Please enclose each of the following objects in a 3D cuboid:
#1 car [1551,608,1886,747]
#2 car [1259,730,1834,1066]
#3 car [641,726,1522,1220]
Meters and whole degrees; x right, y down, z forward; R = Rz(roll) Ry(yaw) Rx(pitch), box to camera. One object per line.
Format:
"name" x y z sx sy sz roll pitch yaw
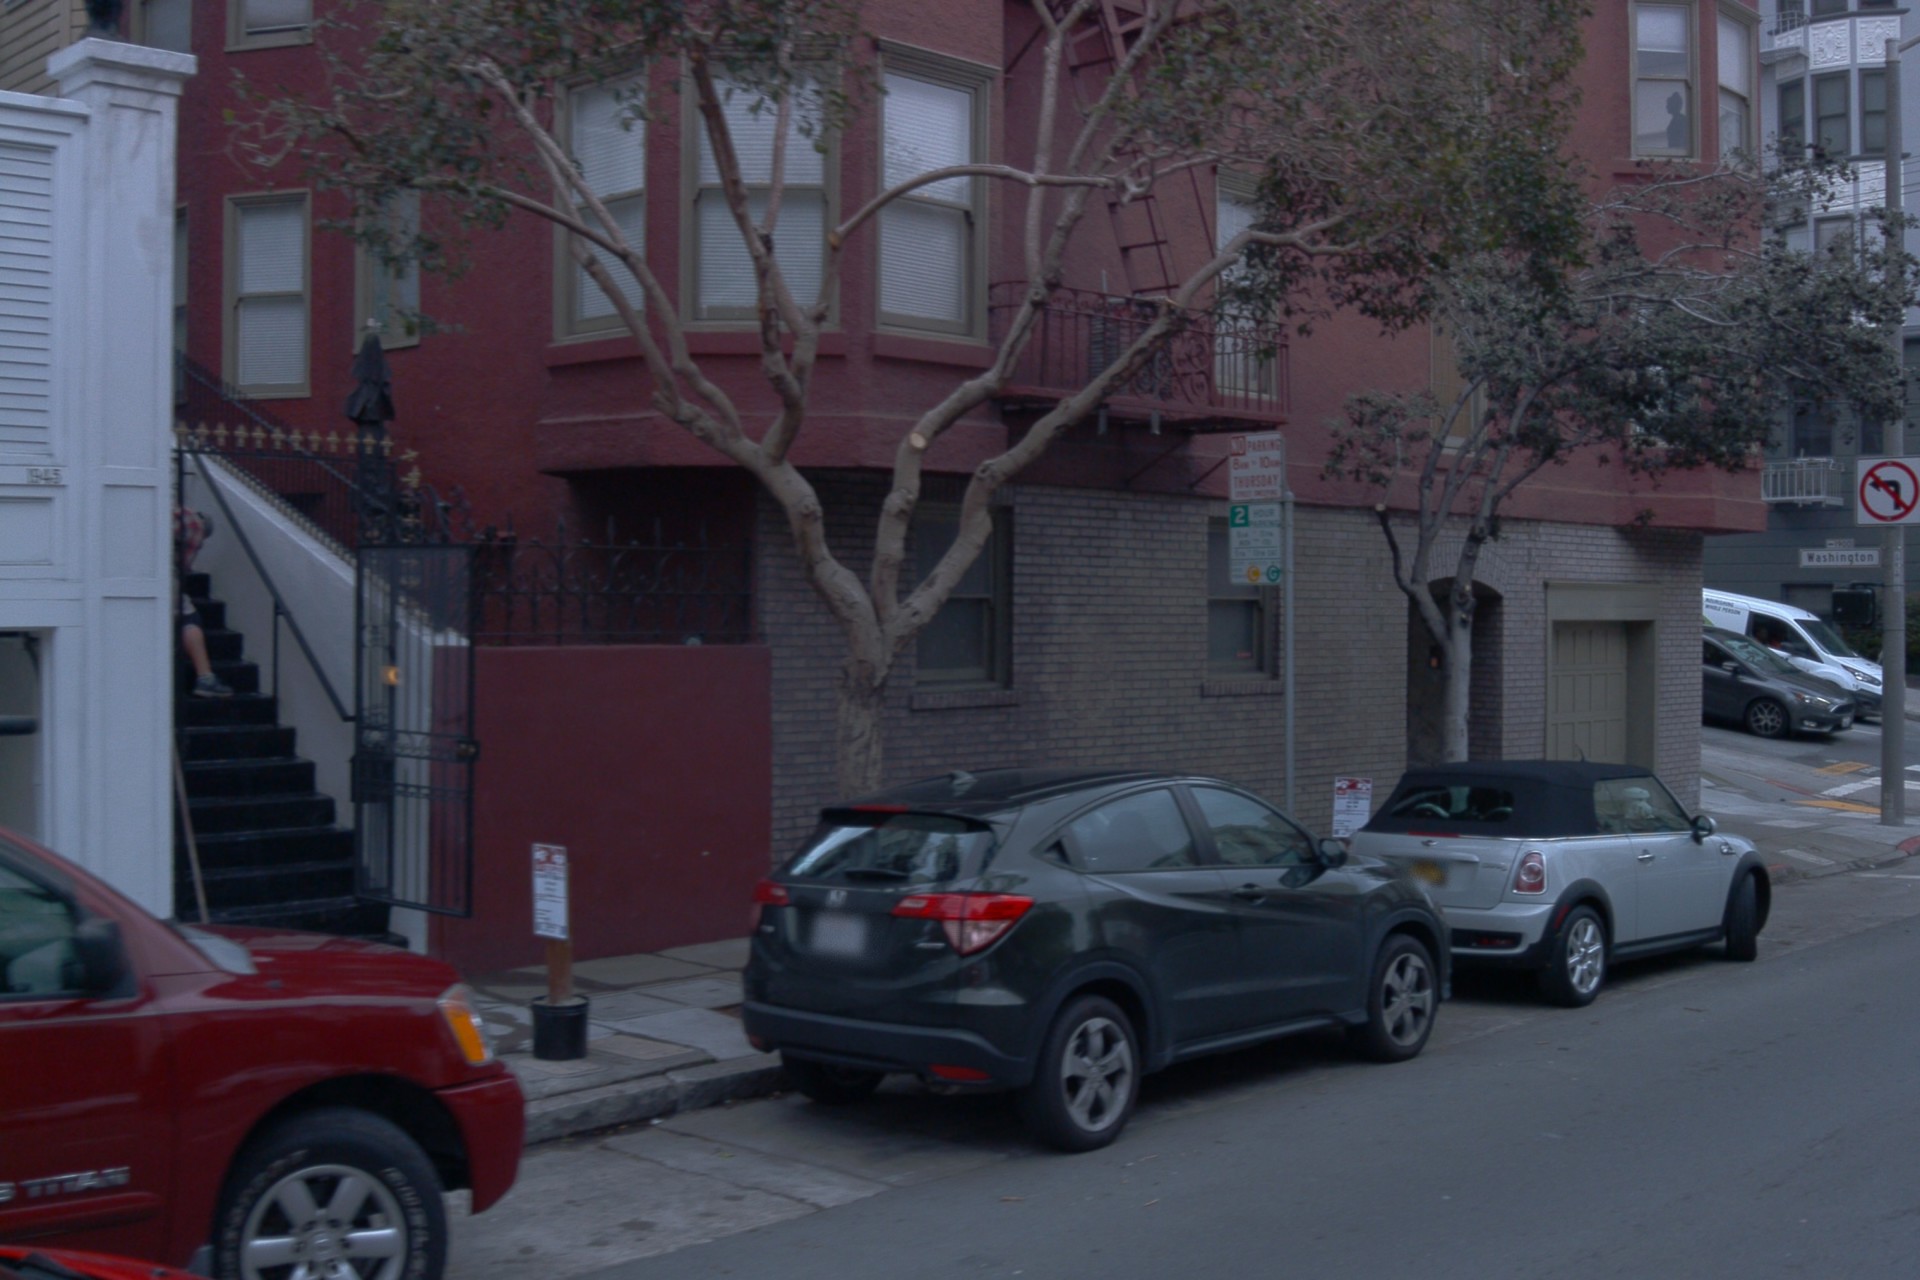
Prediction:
"car" 11.905 0.524 32.419 4.440 2.010 2.163 1 1 42
"car" 4.017 1.546 13.704 2.026 1.640 4.049 1 1 43
"car" 0.811 1.375 10.153 1.866 1.650 4.507 1 1 43
